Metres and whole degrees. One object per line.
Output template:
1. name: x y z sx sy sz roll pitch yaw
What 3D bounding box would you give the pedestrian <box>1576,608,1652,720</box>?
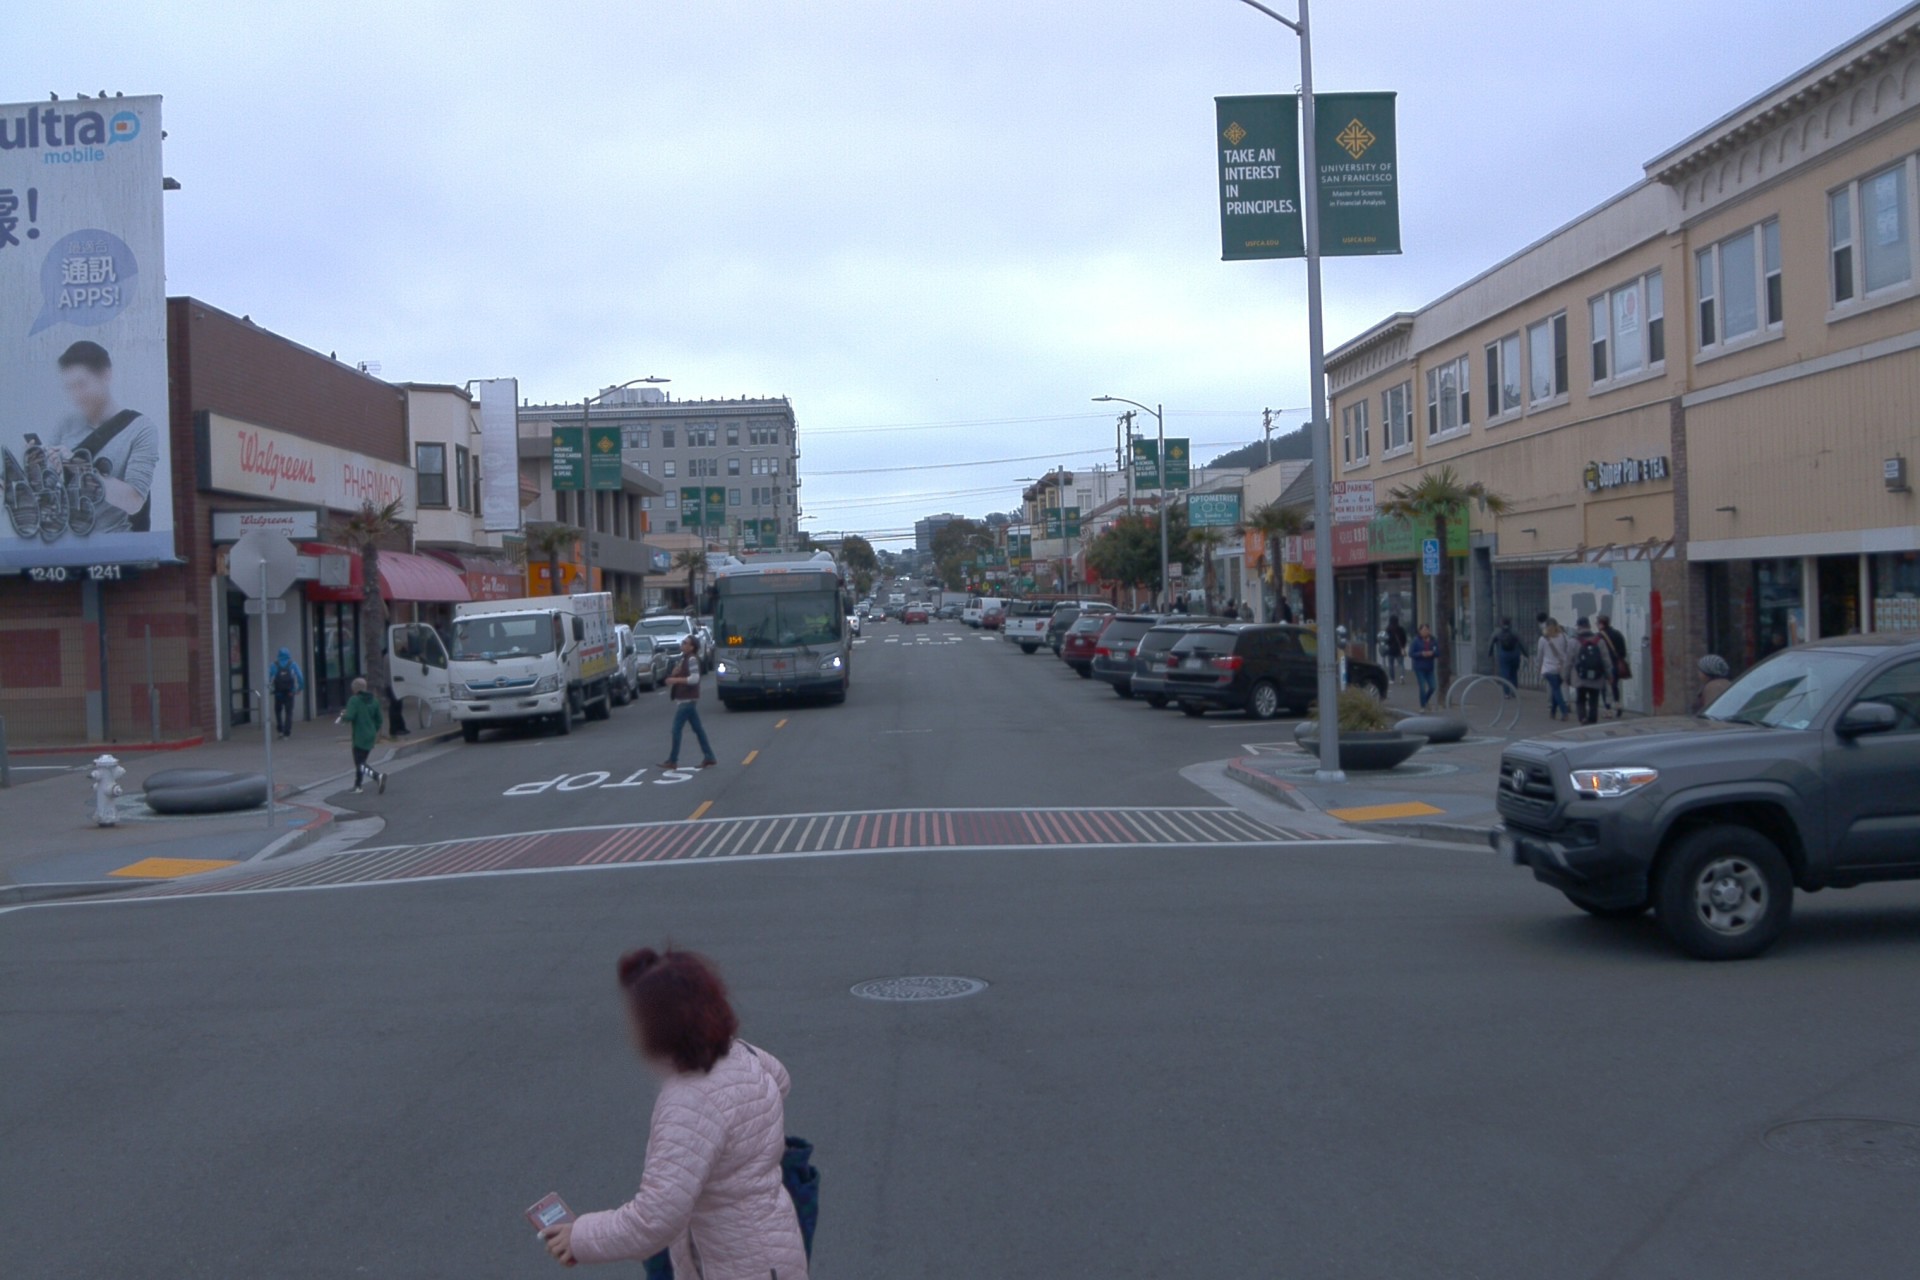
1. pedestrian: 10.264 0.365 32.289 0.952 1.742 0.808 0 1 1

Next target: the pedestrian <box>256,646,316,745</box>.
1. pedestrian: -11.926 0.972 36.417 0.819 1.710 0.783 0 1 -3

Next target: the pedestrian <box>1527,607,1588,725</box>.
1. pedestrian: 9.360 0.392 32.240 0.711 1.824 0.916 0 1 2

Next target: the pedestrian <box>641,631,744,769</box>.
1. pedestrian: -3.630 0.795 27.866 1.259 1.820 0.886 -1 1 -15

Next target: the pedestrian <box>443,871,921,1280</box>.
1. pedestrian: -0.550 1.297 4.442 0.853 1.479 0.908 0 1 4

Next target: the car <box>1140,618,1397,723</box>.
1. car: 5.574 0.490 36.906 4.510 1.740 2.044 -1 1 -39

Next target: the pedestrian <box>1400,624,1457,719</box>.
1. pedestrian: 8.015 0.532 35.202 0.747 1.598 0.778 0 1 -4

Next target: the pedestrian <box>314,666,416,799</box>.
1. pedestrian: -7.950 1.216 27.491 1.107 1.713 0.764 0 1 34

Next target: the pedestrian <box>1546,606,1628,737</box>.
1. pedestrian: 8.595 0.419 28.219 0.925 1.770 0.949 0 1 7

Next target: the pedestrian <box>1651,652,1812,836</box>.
1. pedestrian: 6.569 0.859 17.522 1.065 1.477 0.834 -1 1 -36
